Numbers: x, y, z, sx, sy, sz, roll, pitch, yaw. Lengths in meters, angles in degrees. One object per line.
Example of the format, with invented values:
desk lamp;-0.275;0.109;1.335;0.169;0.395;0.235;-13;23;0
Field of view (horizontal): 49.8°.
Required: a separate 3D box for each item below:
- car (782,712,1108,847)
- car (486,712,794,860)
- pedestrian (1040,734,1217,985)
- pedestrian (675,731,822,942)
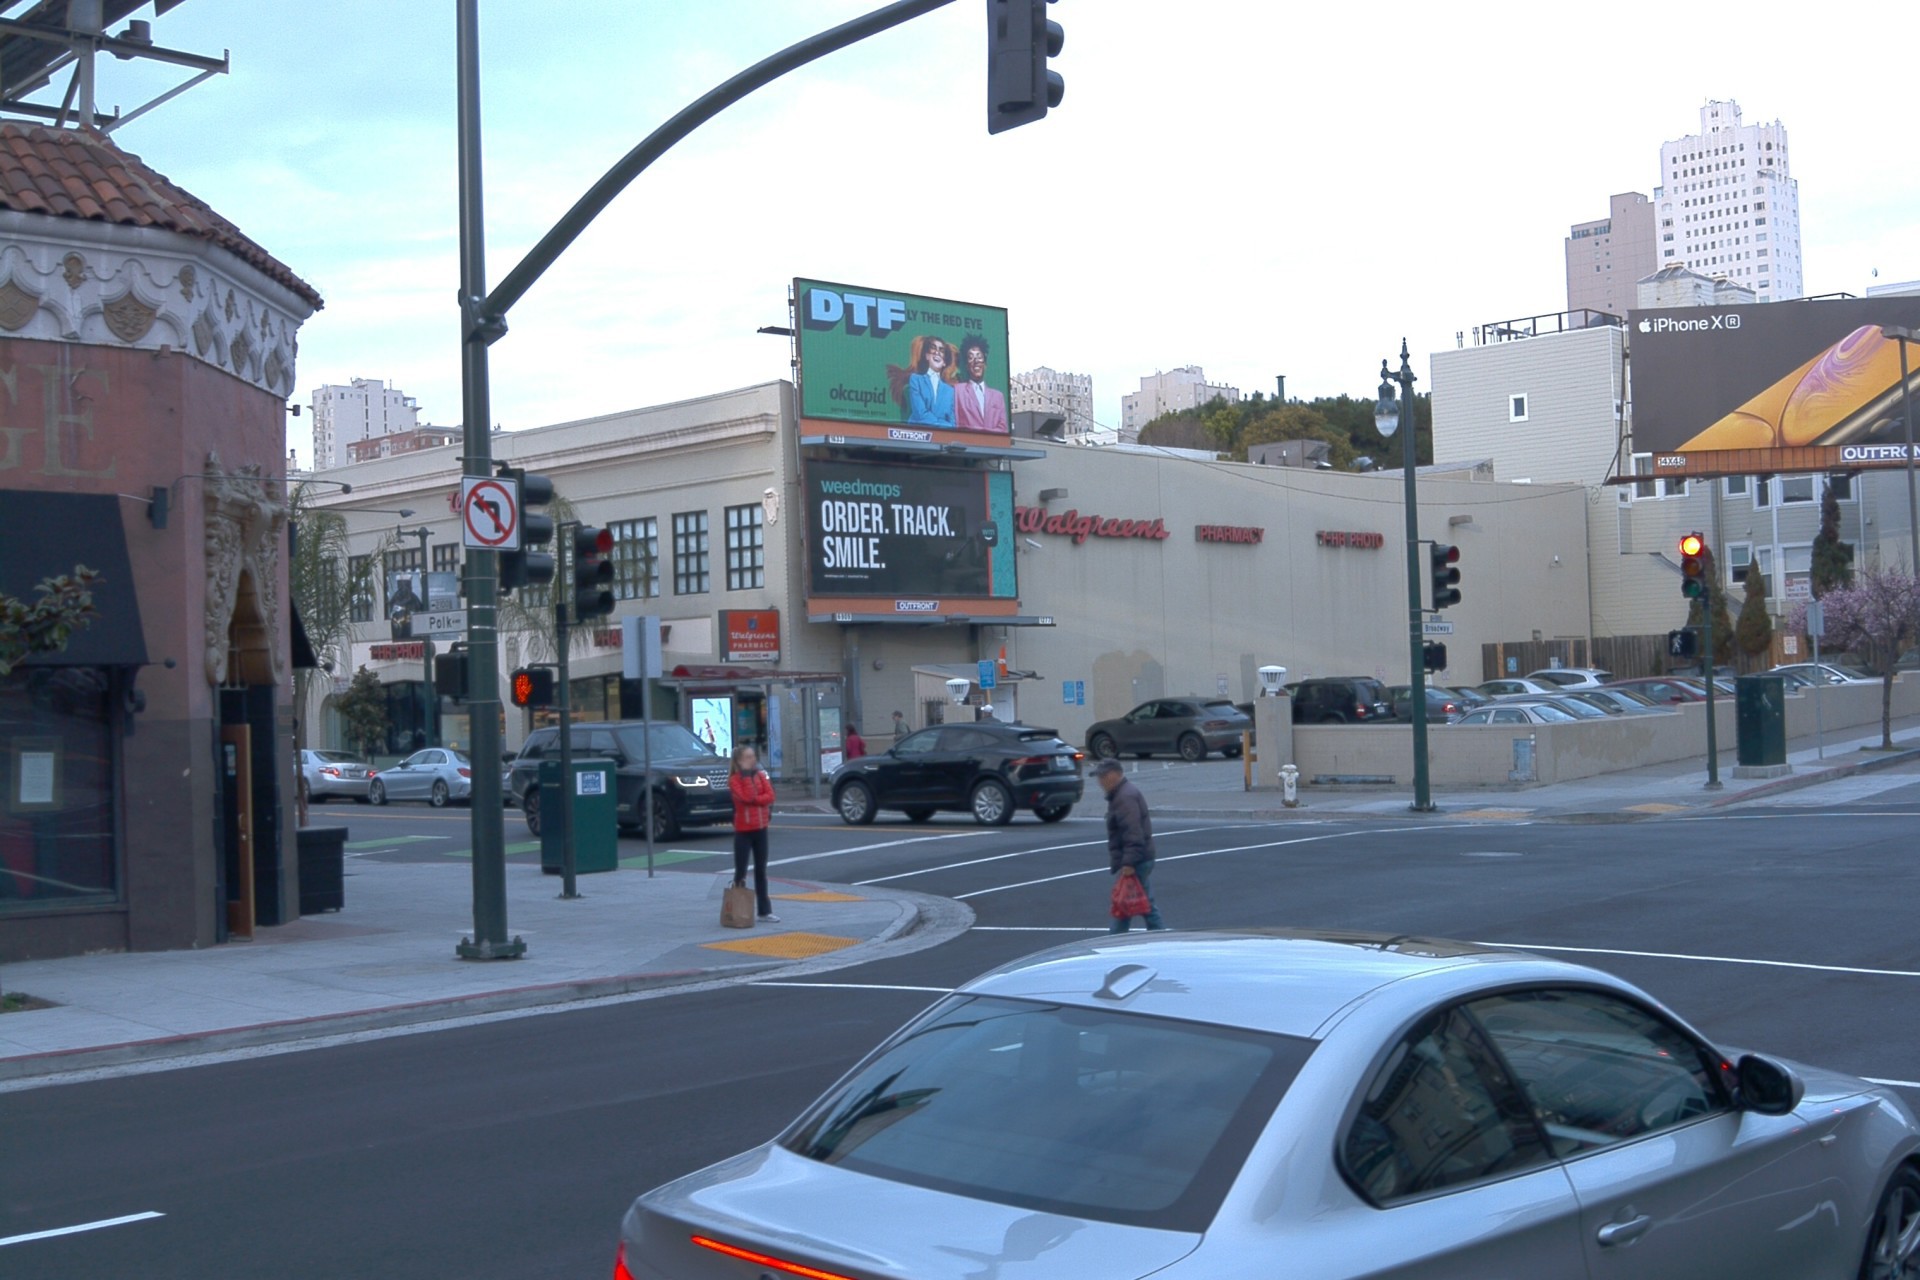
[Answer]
car;-0.292;2.169;33.300;4.868;1.760;2.238;1;1;38
car;-5.164;2.232;32.863;2.225;1.890;5.170;0;1;-44
pedestrian;1.220;1.557;15.008;0.856;1.680;0.914;0;1;-43
pedestrian;-2.019;1.846;19.787;0.861;1.879;1.070;2;1;40
